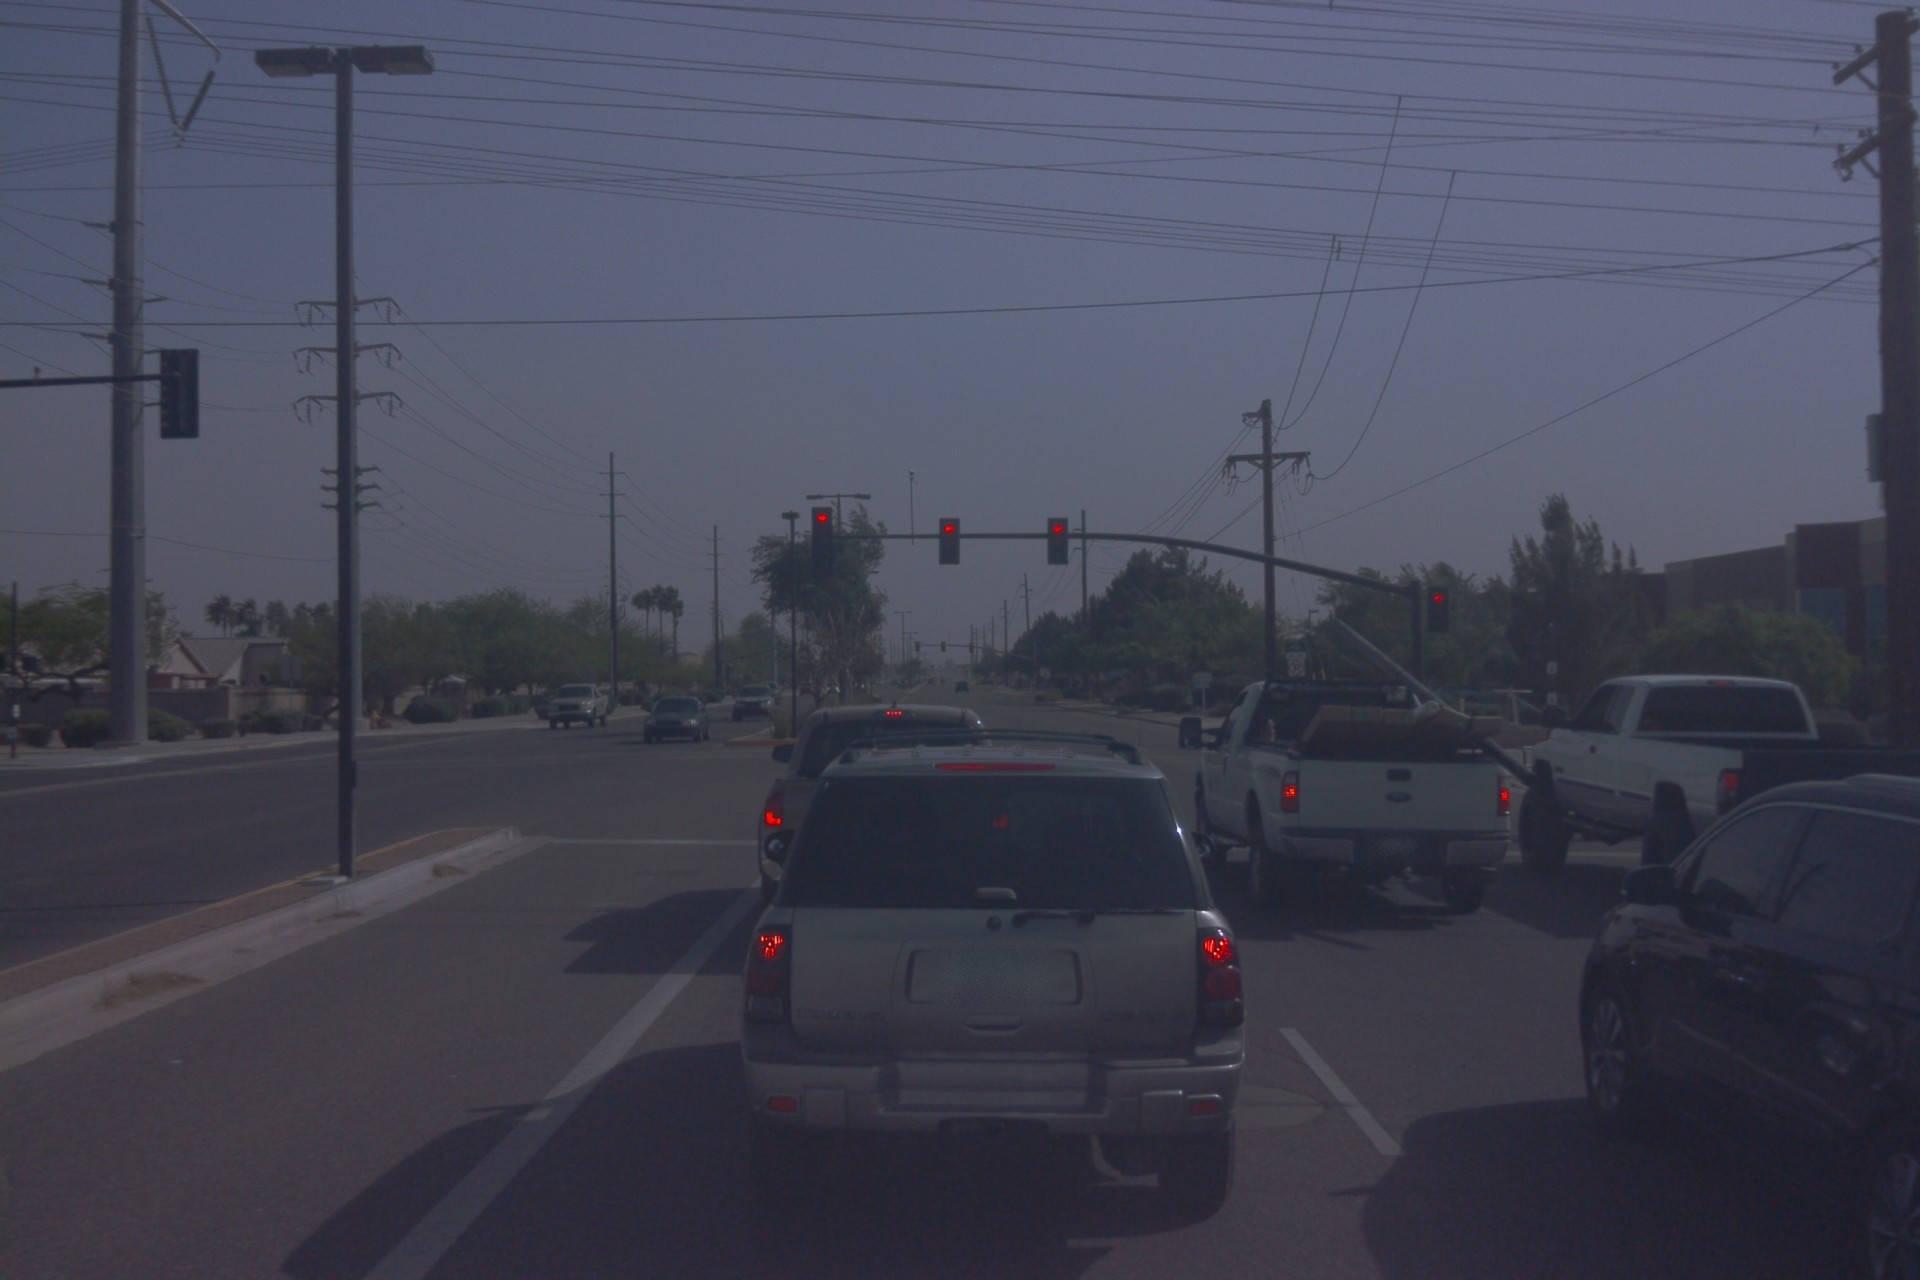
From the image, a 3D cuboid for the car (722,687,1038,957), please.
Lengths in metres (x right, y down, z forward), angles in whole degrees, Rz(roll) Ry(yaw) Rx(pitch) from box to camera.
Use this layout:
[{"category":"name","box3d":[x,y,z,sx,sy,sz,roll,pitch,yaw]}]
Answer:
[{"category":"car","box3d":[-0.540,1.294,16.360,2.149,1.780,4.304,0,-1,0]}]

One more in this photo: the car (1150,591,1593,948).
[{"category":"car","box3d":[3.453,1.032,19.270,2.664,2.710,6.759,0,-1,-1]}]

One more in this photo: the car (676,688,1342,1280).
[{"category":"car","box3d":[0.147,1.227,9.274,2.201,1.960,4.684,0,-1,0]}]
